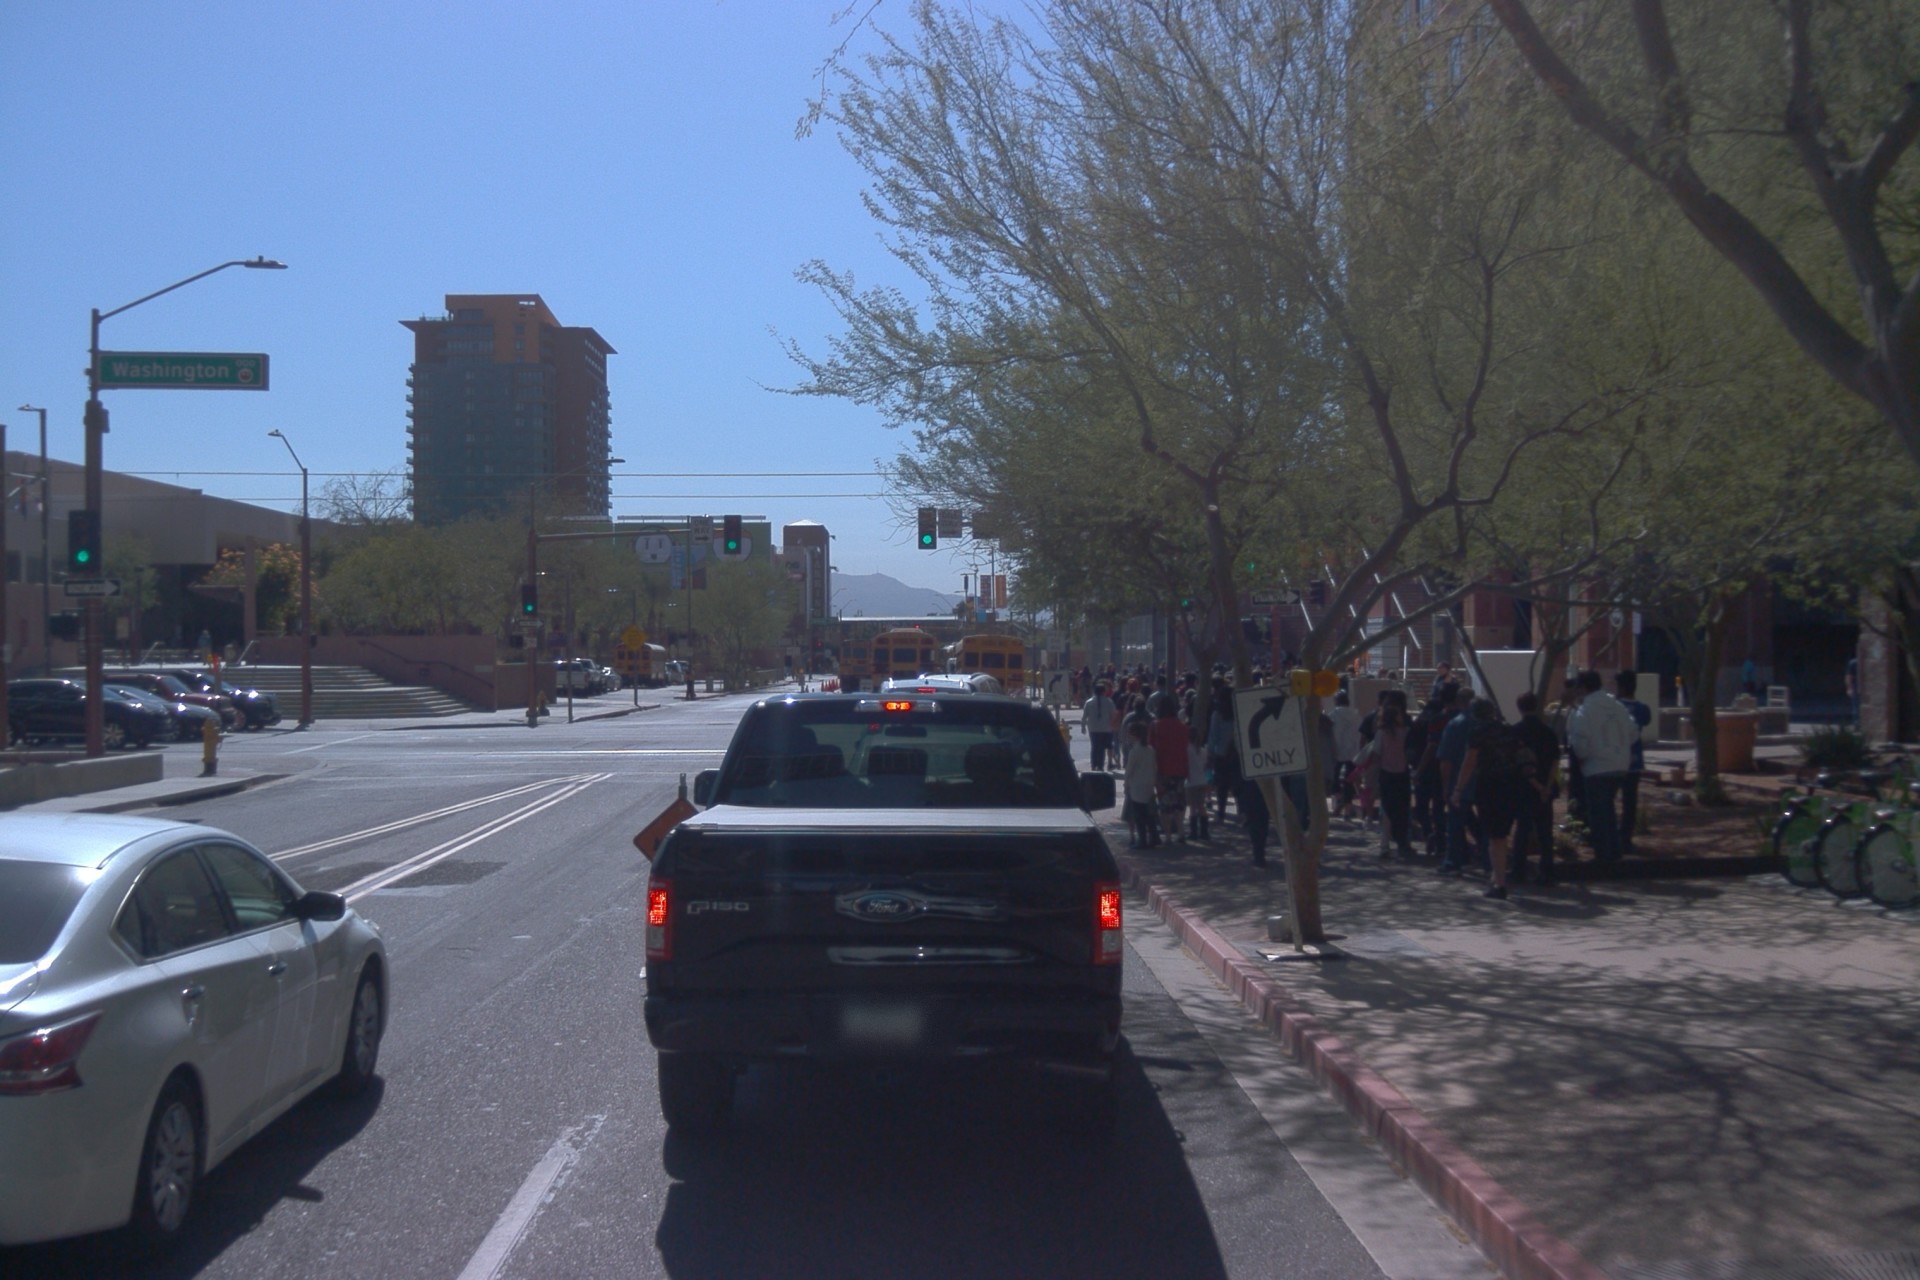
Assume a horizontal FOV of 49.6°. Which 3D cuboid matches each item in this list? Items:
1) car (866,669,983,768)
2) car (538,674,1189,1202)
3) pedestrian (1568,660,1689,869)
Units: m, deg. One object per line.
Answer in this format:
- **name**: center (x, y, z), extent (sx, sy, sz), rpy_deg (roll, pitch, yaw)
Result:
- **car**: center (-0.512, 1.210, 33.320), extent (1.753, 1.430, 4.270), rpy_deg (0, 0, 1)
- **car**: center (-0.355, 1.185, 10.636), extent (2.486, 1.950, 5.329), rpy_deg (0, 0, 0)
- **pedestrian**: center (6.162, 1.132, 19.207), extent (0.835, 1.880, 0.792), rpy_deg (0, 0, -2)
